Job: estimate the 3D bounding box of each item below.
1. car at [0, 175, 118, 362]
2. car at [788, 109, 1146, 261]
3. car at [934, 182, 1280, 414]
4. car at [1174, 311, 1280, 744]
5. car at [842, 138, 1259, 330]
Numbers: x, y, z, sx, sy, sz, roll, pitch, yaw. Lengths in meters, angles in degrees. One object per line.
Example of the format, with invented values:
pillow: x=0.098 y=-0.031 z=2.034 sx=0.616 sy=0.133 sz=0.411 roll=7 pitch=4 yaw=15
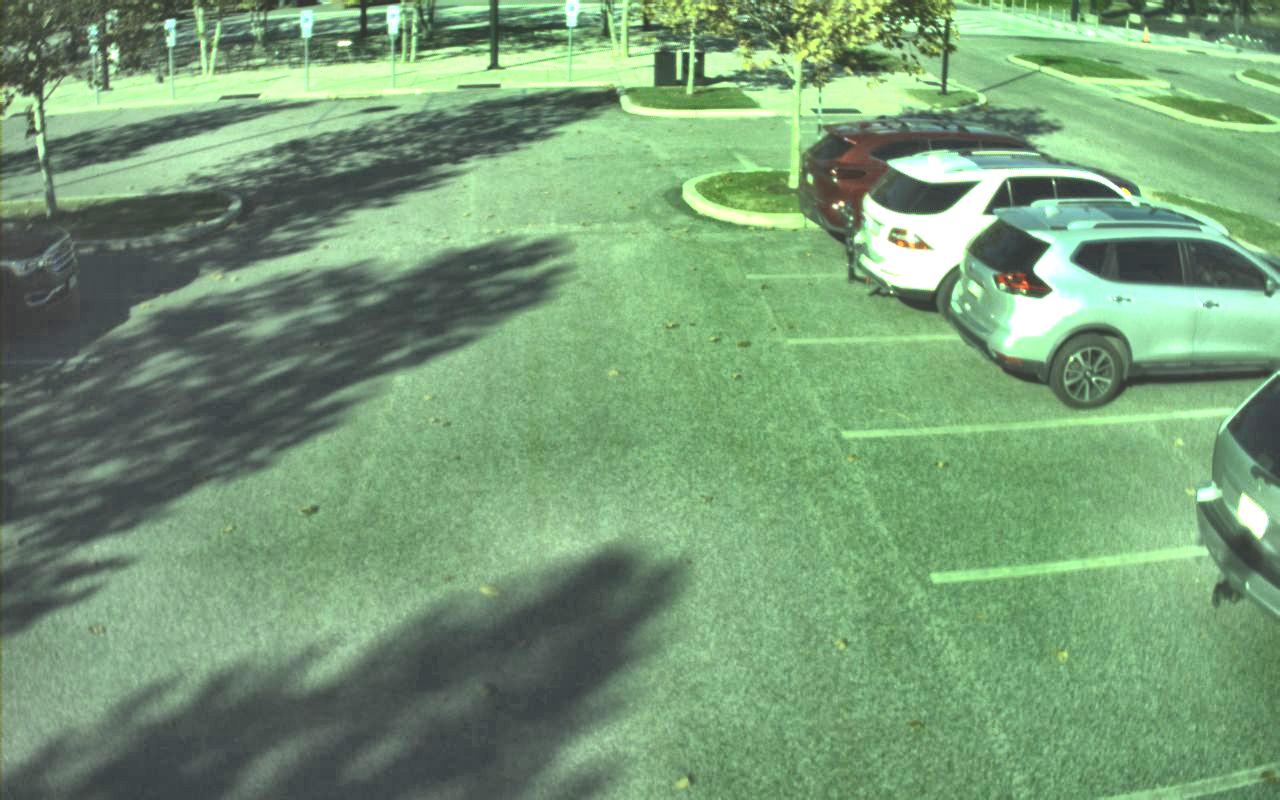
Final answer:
car: x=-8.866 y=-1.634 z=13.685 sx=4.501 sy=1.610 sz=1.986 roll=-5 pitch=17 yaw=-13
car: x=4.463 y=-2.999 z=16.651 sx=4.620 sy=1.774 sz=2.010 roll=-3 pitch=16 yaw=-6
car: x=5.236 y=-1.092 z=11.546 sx=4.431 sy=1.768 sz=1.968 roll=-2 pitch=16 yaw=-4
car: x=5.930 y=0.620 z=6.642 sx=4.620 sy=1.825 sz=2.037 roll=-2 pitch=16 yaw=-2
car: x=4.795 y=-2.007 z=13.952 sx=4.634 sy=1.818 sz=2.026 roll=-3 pitch=16 yaw=-6
